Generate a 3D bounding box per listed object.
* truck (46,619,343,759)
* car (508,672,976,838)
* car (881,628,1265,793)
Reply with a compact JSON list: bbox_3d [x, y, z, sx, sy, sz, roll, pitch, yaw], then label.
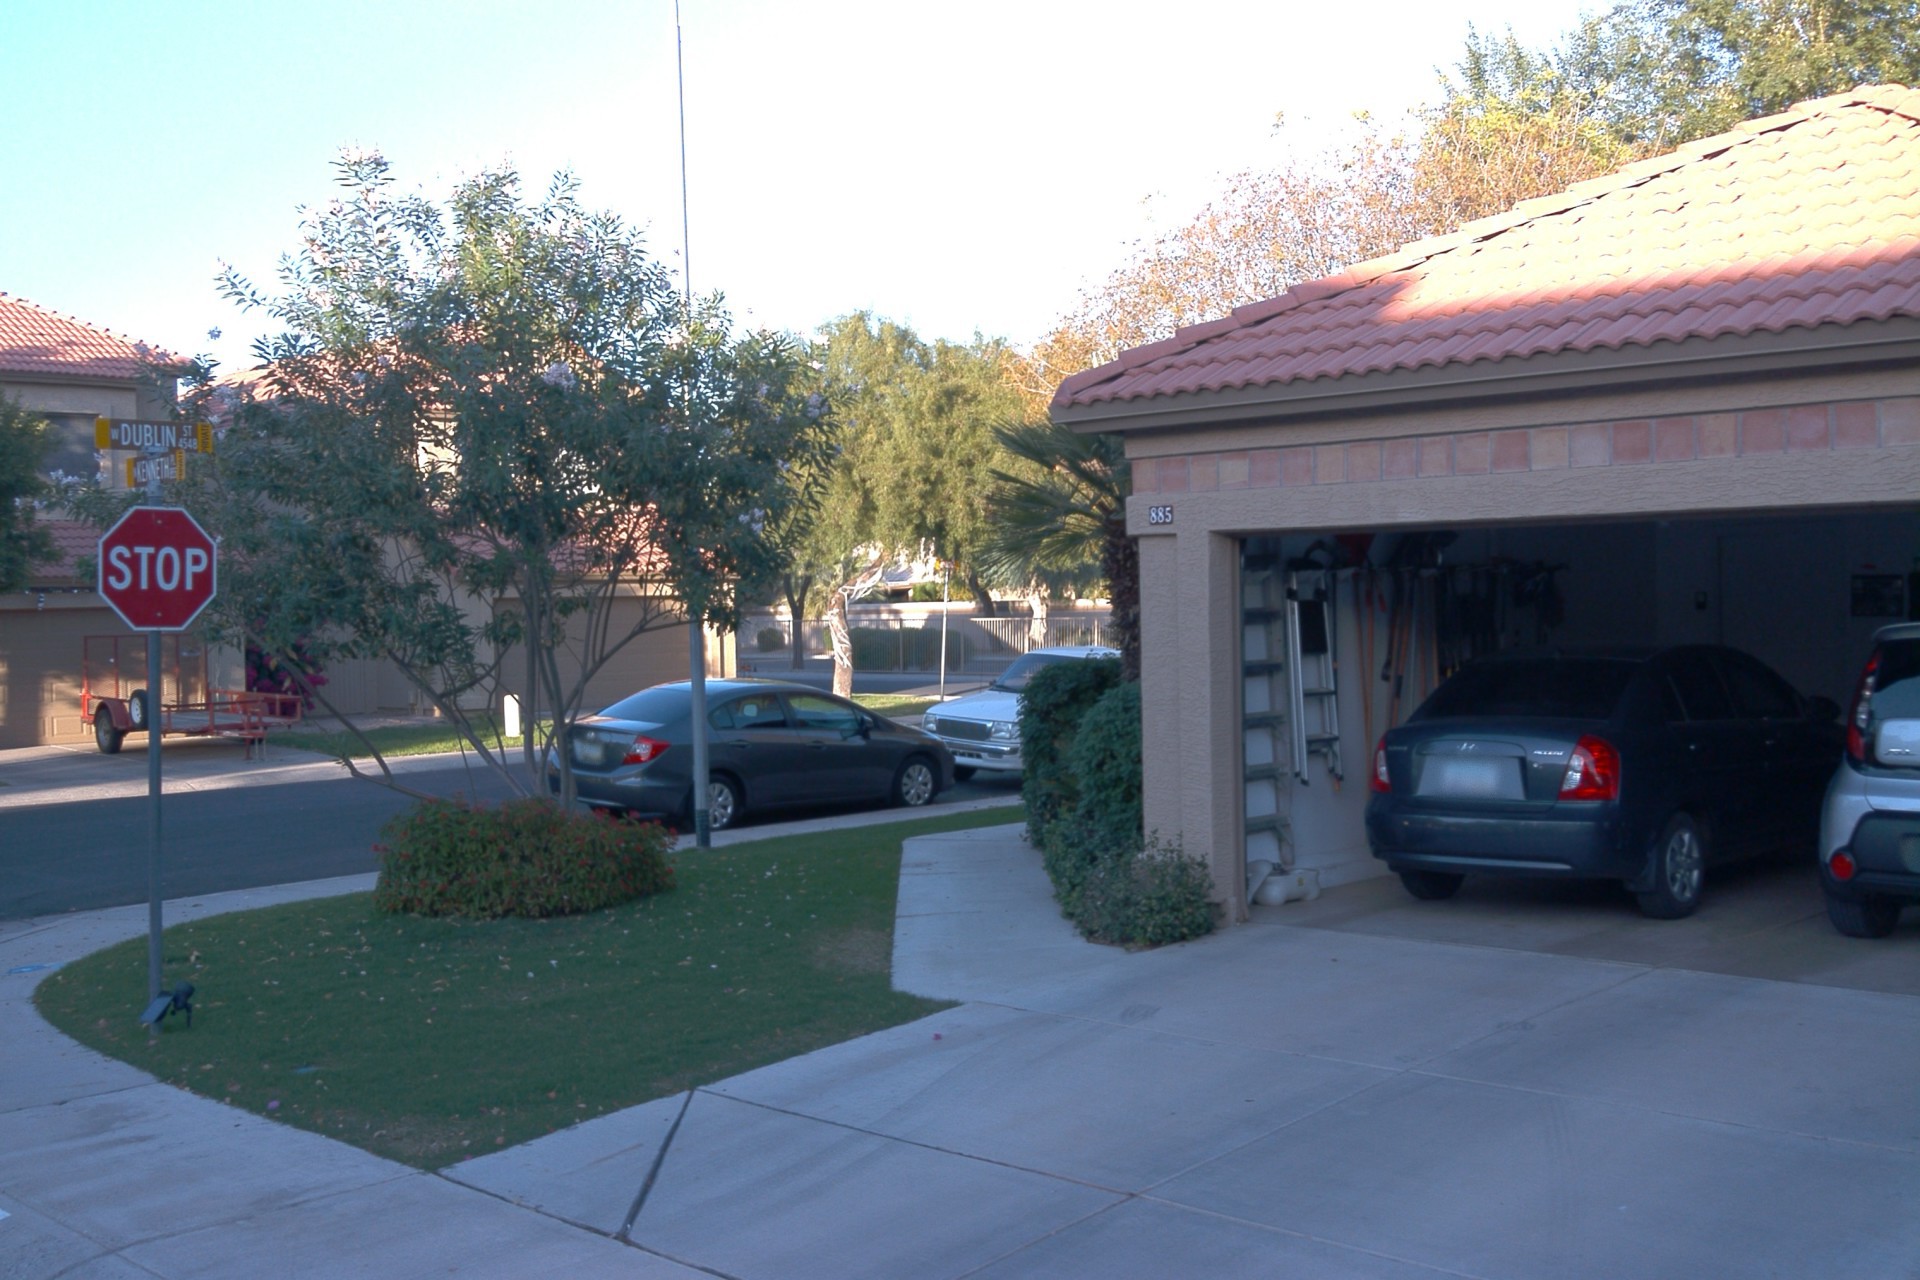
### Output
[{"bbox_3d":[-11.396,0.690,30.788,2.622,1.900,4.348,1,-1,-43],"label":"truck"},{"bbox_3d":[-2.119,1.079,21.158,2.054,1.470,4.462,0,-1,44],"label":"car"},{"bbox_3d":[1.455,0.793,25.044,2.021,1.800,4.702,0,-1,44],"label":"car"}]
